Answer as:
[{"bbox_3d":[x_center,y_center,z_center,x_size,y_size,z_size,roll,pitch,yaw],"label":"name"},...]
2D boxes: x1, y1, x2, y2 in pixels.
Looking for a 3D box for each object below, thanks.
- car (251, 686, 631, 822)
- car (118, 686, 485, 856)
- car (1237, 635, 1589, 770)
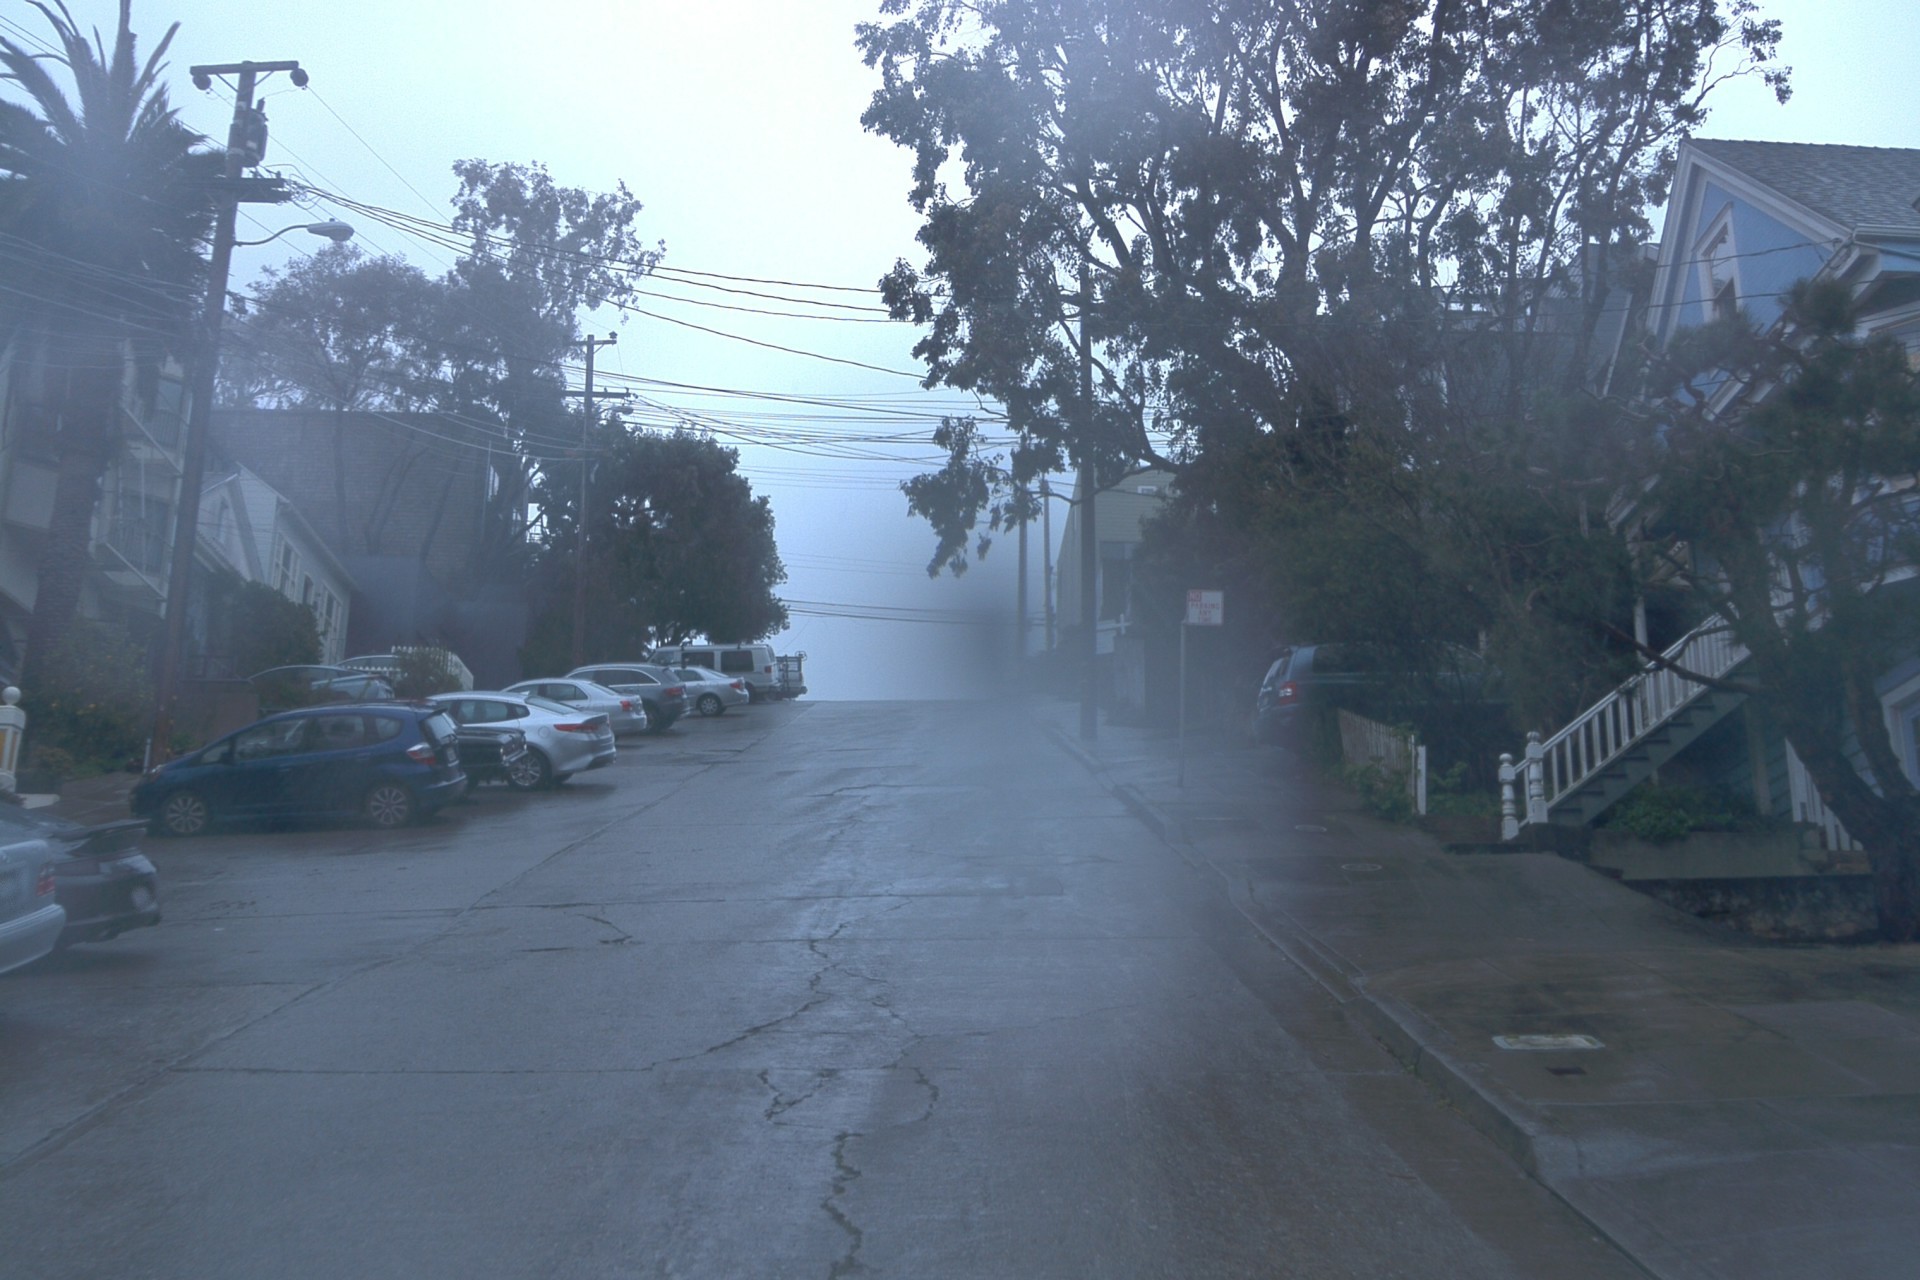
[{"bbox_3d":[-7.654,1.659,30.890,5.068,1.890,2.226,0,0,4],"label":"car"},{"bbox_3d":[-8.060,1.575,25.629,3.852,1.970,2.105,0,0,2],"label":"car"},{"bbox_3d":[6.349,0.855,29.367,4.464,1.836,2.040,0,0,-4],"label":"car"}]
